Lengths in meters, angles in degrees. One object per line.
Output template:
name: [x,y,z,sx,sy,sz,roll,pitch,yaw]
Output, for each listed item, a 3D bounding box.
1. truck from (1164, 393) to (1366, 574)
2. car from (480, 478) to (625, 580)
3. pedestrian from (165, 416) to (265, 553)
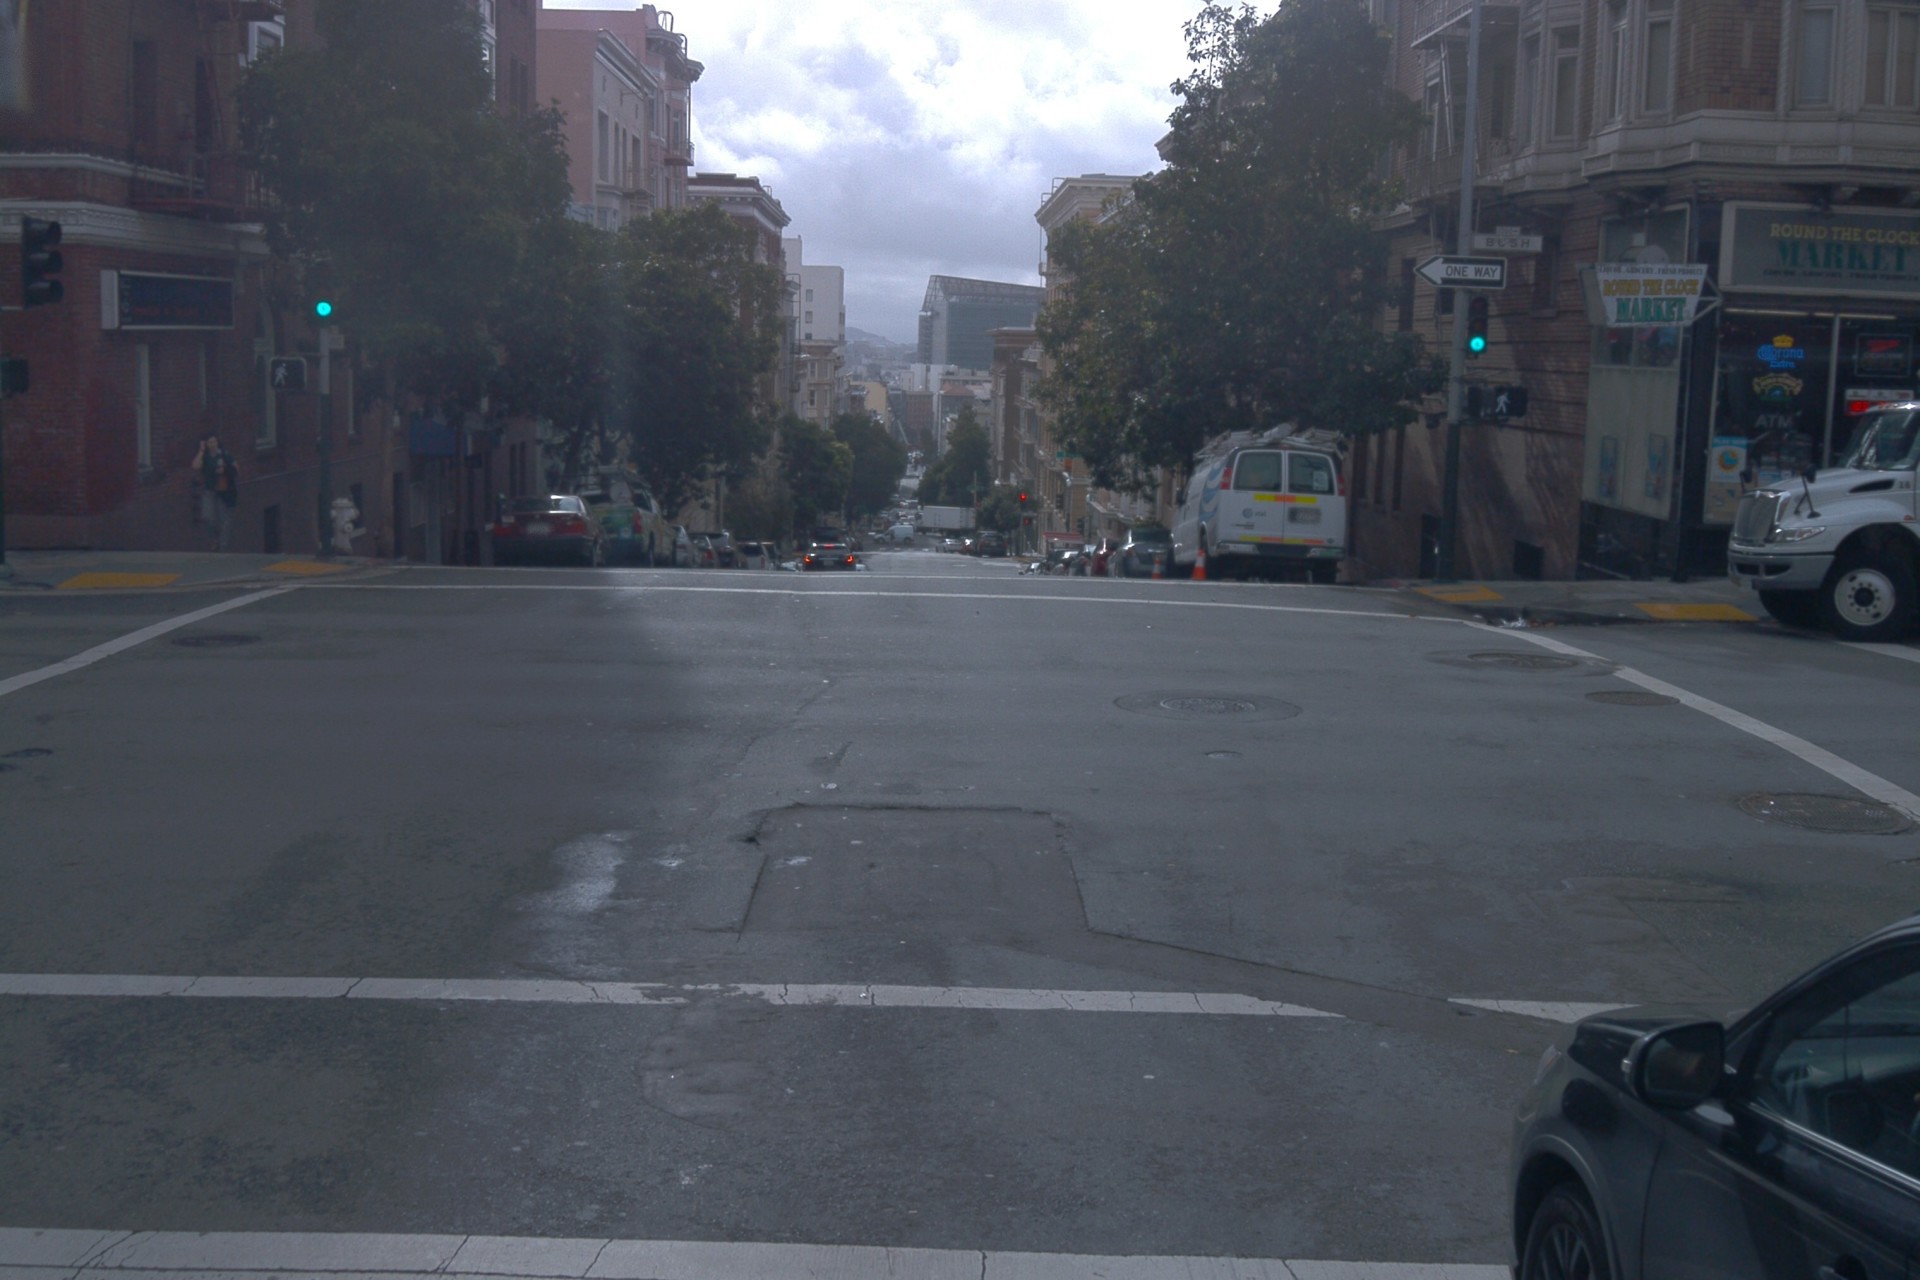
truck: [4.619,-2.325,31.796,2.117,2.450,5.100,1,1,-3]
car: [-6.888,-1.846,34.930,1.759,1.530,4.100,1,1,-2]
pedestrian: [-9.839,-2.035,27.033,0.930,1.717,1.087,1,1,-2]
